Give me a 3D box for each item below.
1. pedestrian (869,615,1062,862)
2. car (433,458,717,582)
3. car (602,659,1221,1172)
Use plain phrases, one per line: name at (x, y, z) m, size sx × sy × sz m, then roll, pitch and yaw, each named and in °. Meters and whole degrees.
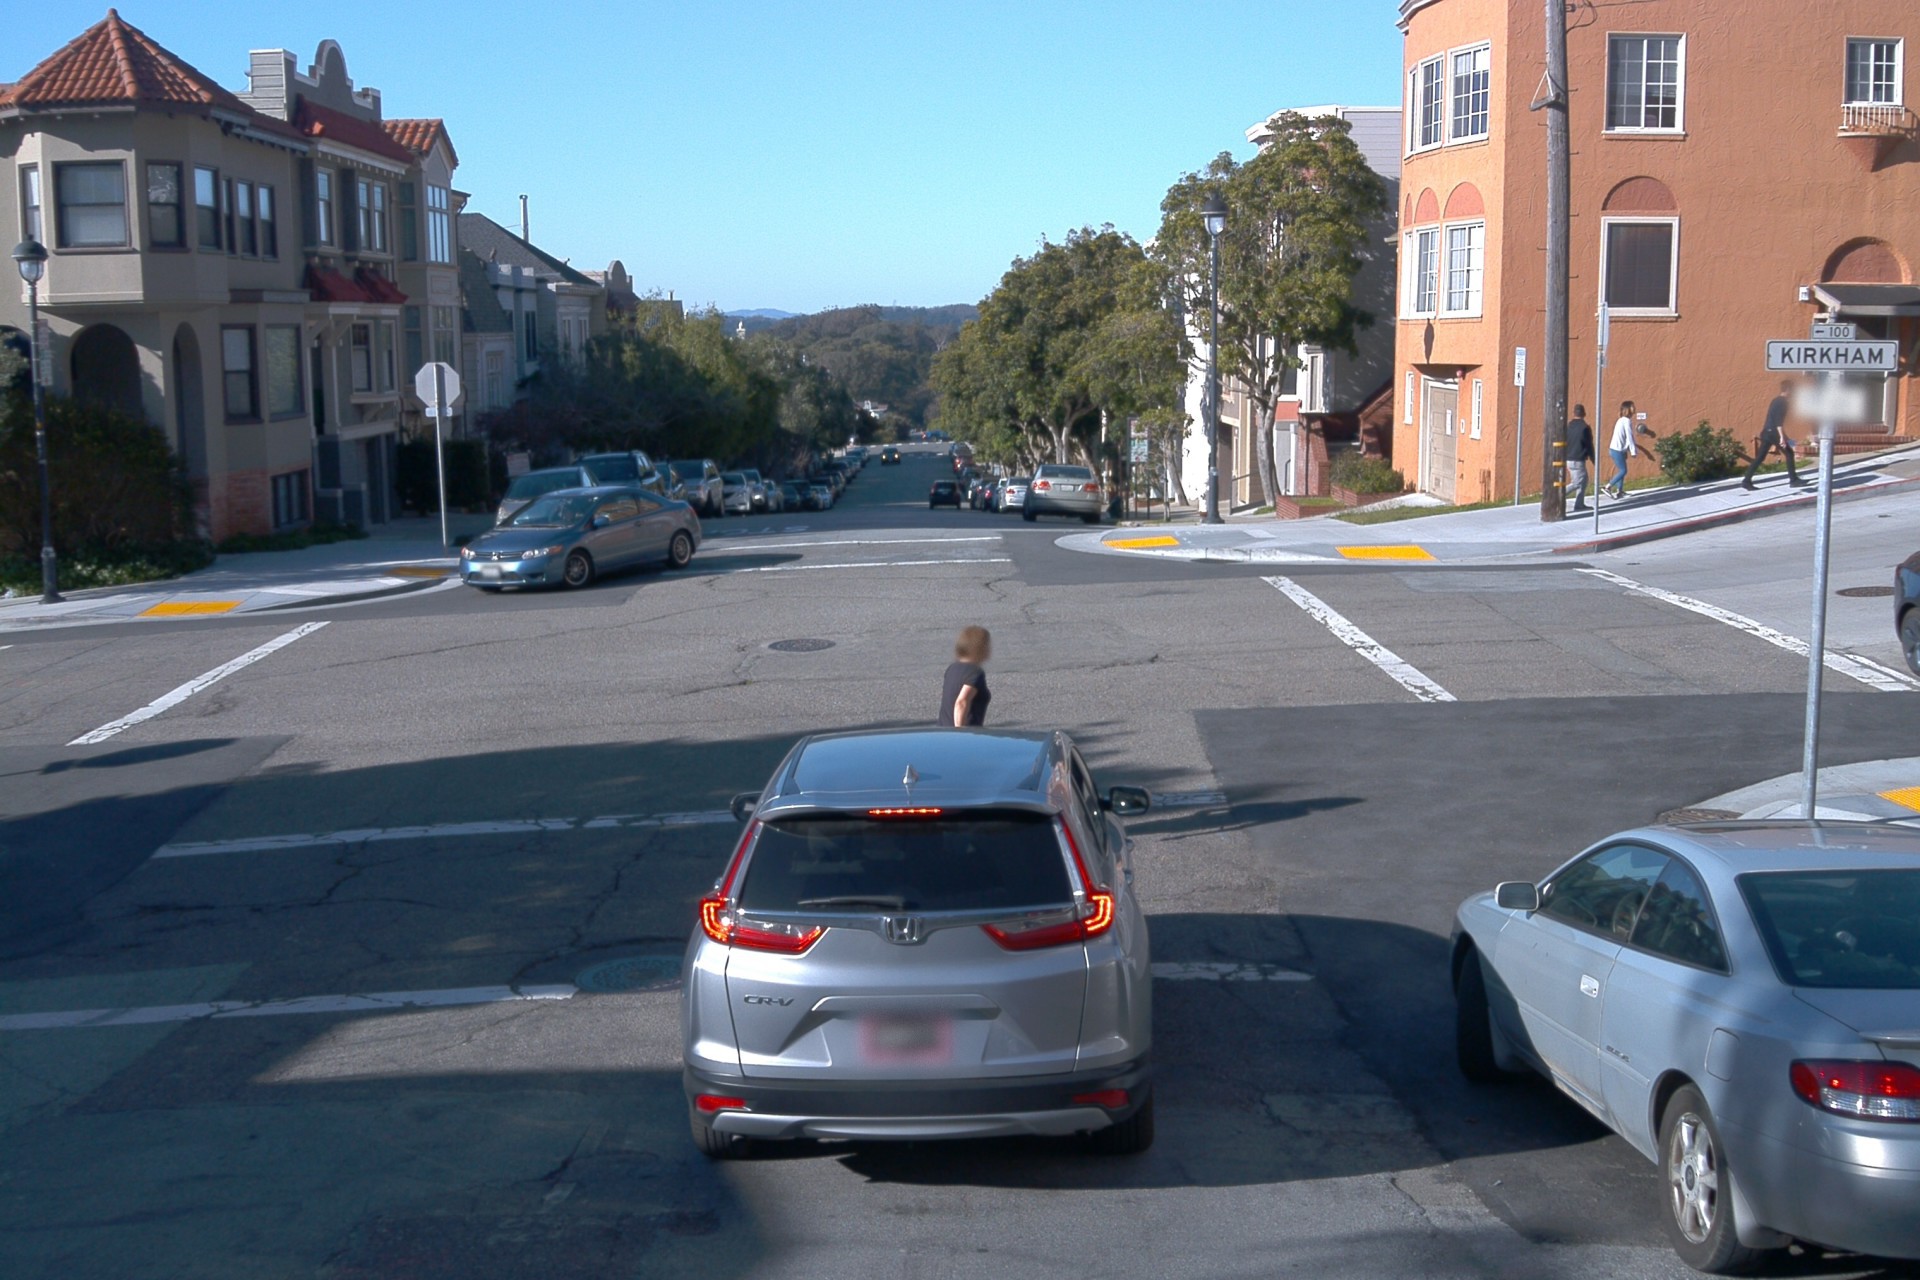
pedestrian at (0.030, 0.650, 14.120) m, size 1.128 × 1.620 × 0.731 m, roll 0°, pitch 0°, yaw -21°
car at (-5.612, -1.712, 30.773) m, size 1.822 × 1.530 × 4.403 m, roll 0°, pitch 0°, yaw 28°
car at (-0.184, 0.997, 9.686) m, size 2.191 × 1.800 × 4.695 m, roll 0°, pitch 0°, yaw 0°
